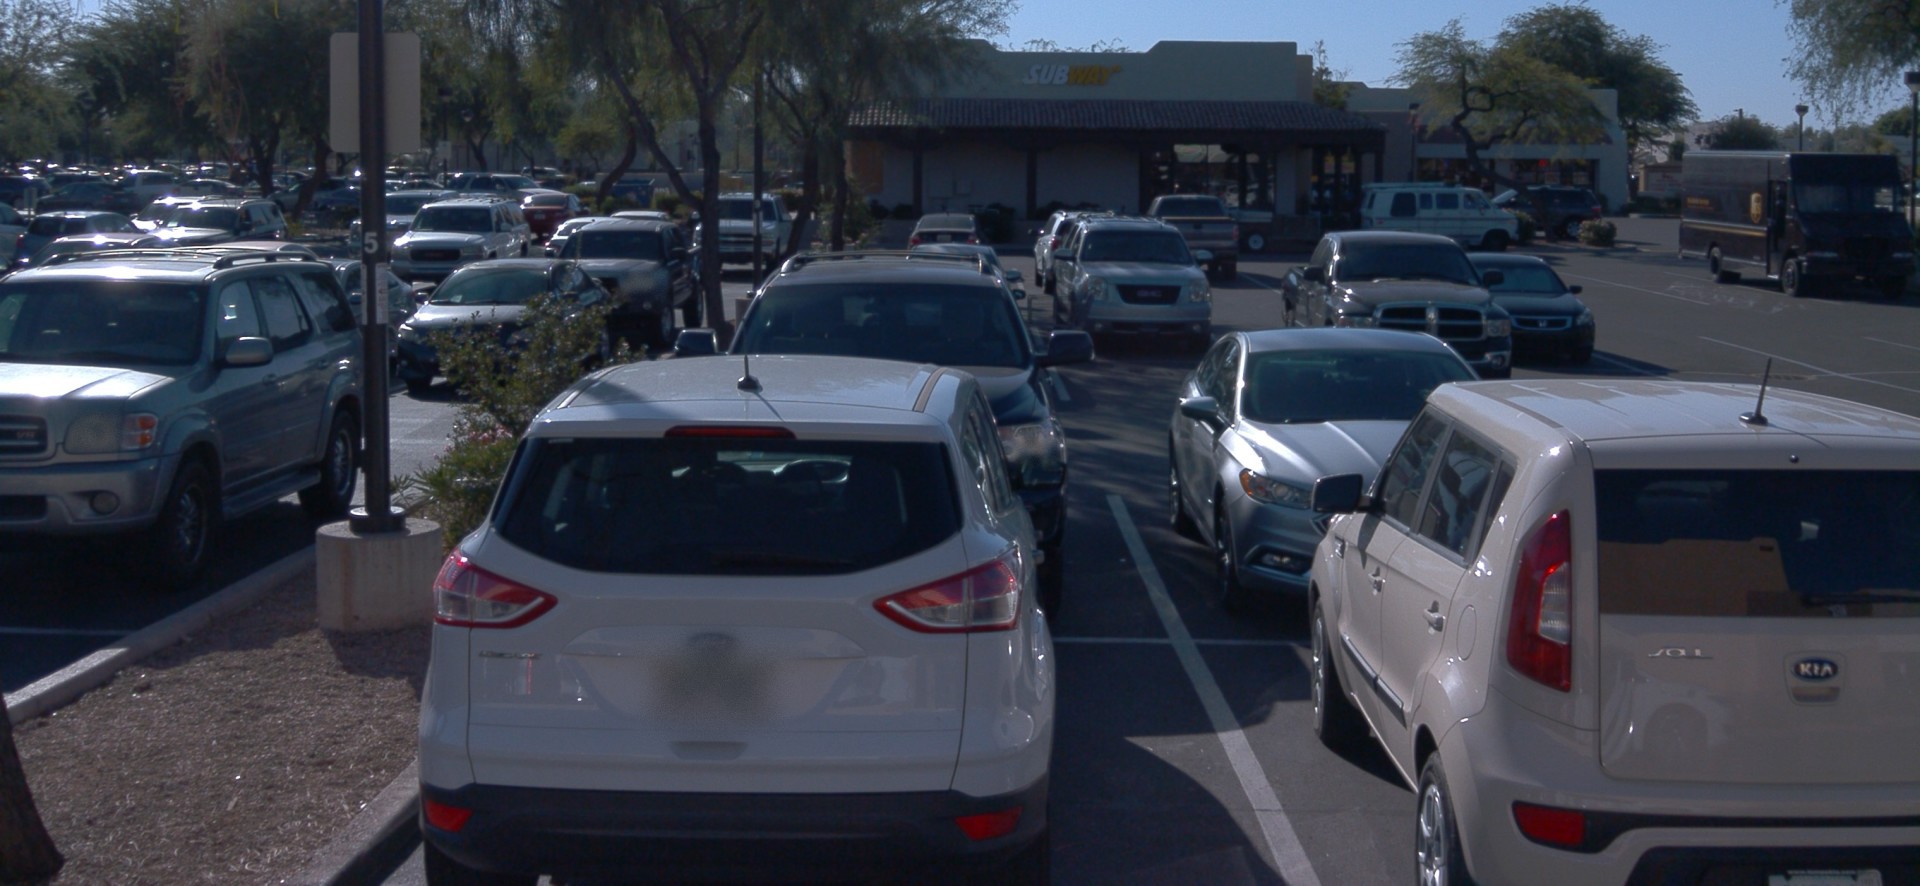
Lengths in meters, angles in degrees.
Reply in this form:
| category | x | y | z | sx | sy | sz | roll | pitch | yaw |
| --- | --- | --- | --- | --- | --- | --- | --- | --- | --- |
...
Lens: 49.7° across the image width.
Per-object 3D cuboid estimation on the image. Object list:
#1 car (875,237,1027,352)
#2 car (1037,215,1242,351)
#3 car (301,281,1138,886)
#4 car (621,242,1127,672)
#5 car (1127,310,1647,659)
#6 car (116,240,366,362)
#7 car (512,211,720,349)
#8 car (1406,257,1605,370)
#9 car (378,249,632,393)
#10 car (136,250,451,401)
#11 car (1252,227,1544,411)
| category | x | y | z | sx | sy | sz | roll | pitch | yaw |
| --- | --- | --- | --- | --- | --- | --- | --- | --- | --- |
| car | -0.096 | -2.315 | 31.439 | 2.127 | 1.553 | 4.507 | 1 | 6 | 0 |
| car | 2.644 | -2.547 | 32.004 | 2.481 | 1.891 | 5.237 | 0 | 5 | -3 |
| car | -0.628 | 0.367 | 7.573 | 2.094 | 1.752 | 4.697 | 1 | 5 | -1 |
| car | -0.451 | -0.173 | 12.871 | 2.497 | 2.061 | 5.138 | 1 | 5 | -1 |
| car | 2.352 | 0.062 | 12.852 | 2.170 | 1.543 | 4.761 | 0 | 6 | -1 |
| car | -10.501 | -2.164 | 30.663 | 2.010 | 1.593 | 4.474 | 1 | 5 | 2 |
| car | -5.111 | -2.555 | 31.613 | 2.086 | 1.901 | 5.342 | 1 | 5 | 2 |
| car | 8.146 | -2.027 | 31.412 | 1.976 | 1.493 | 4.498 | 1 | 6 | 2 |
| car | -5.487 | -1.586 | 25.661 | 2.083 | 1.543 | 4.565 | 1 | 6 | 0 |
| car | -8.069 | -1.544 | 25.666 | 2.180 | 1.602 | 4.851 | 1 | 6 | 2 |
| car | 5.326 | -1.695 | 26.187 | 2.523 | 2.021 | 5.784 | 1 | 6 | 0 |
